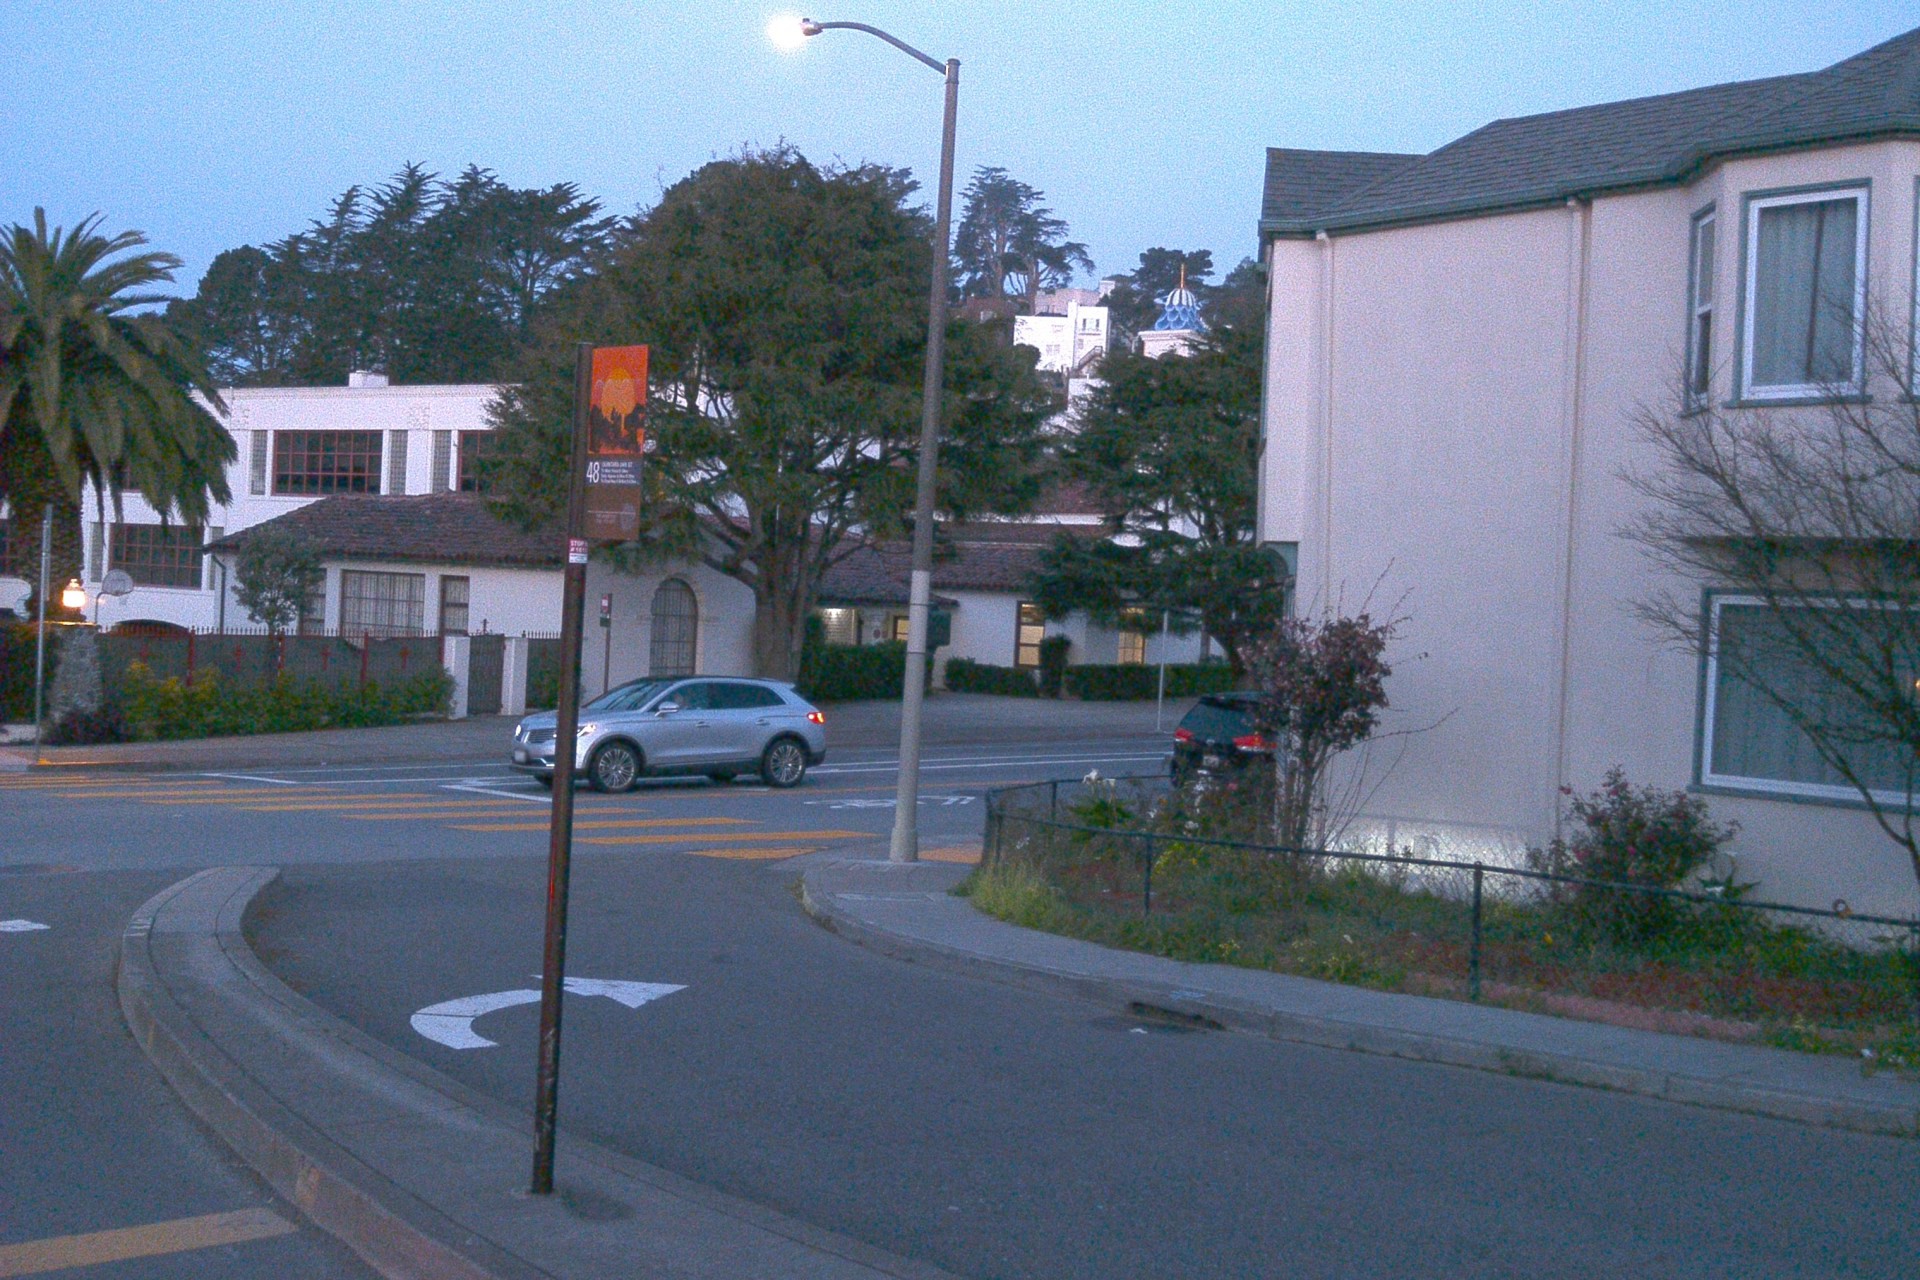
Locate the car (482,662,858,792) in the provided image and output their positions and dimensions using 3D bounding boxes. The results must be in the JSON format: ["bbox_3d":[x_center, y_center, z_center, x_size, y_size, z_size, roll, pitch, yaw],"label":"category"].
[{"bbox_3d":[-4.179,1.208,30.665,5.027,1.730,2.150,1,0,-39],"label":"car"}]

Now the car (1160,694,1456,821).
[{"bbox_3d":[5.027,1.633,30.201,3.819,1.660,2.058,1,0,-34],"label":"car"}]
